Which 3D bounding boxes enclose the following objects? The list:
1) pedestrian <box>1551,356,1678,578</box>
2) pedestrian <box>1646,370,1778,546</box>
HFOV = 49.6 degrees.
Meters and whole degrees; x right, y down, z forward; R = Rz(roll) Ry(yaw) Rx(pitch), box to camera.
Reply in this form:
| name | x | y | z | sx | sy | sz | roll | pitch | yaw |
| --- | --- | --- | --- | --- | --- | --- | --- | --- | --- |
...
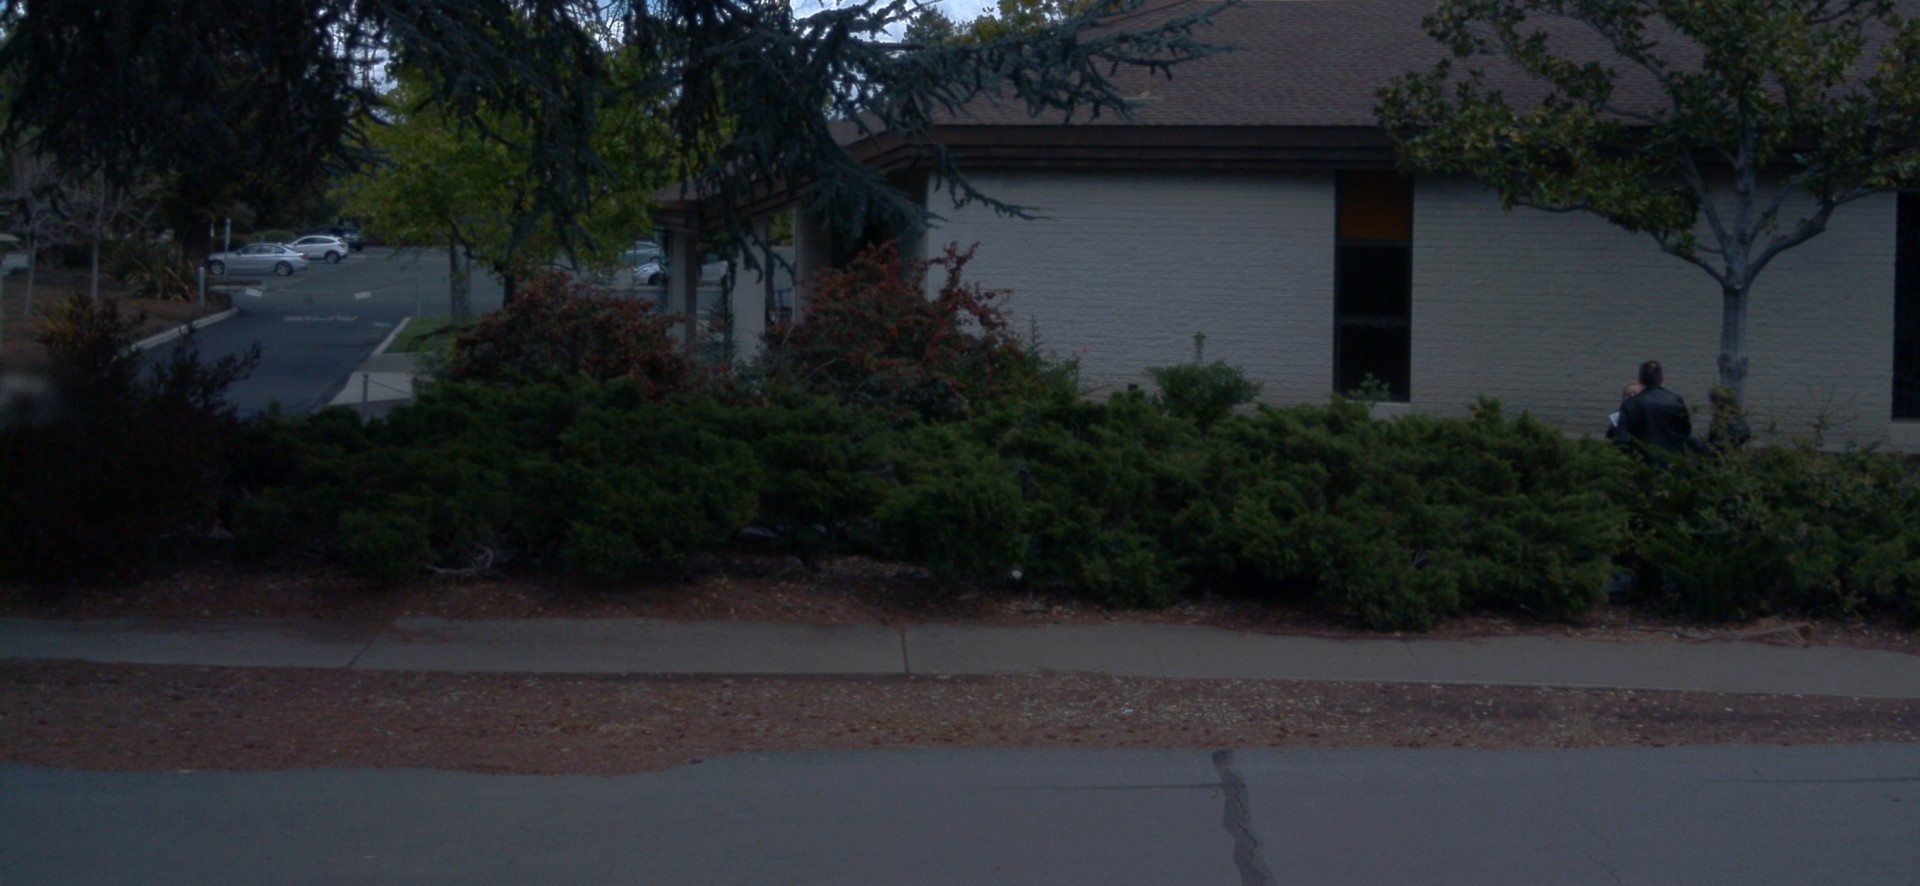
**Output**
| name | x | y | z | sx | sy | sz | roll | pitch | yaw |
| --- | --- | --- | --- | --- | --- | --- | --- | --- | --- |
| pedestrian | 5.323 | 0.166 | 16.968 | 0.894 | 1.690 | 0.947 | 1 | 1 | 12 |
| pedestrian | 6.252 | 0.107 | 17.322 | 0.834 | 1.370 | 0.875 | 1 | 1 | 5 |
